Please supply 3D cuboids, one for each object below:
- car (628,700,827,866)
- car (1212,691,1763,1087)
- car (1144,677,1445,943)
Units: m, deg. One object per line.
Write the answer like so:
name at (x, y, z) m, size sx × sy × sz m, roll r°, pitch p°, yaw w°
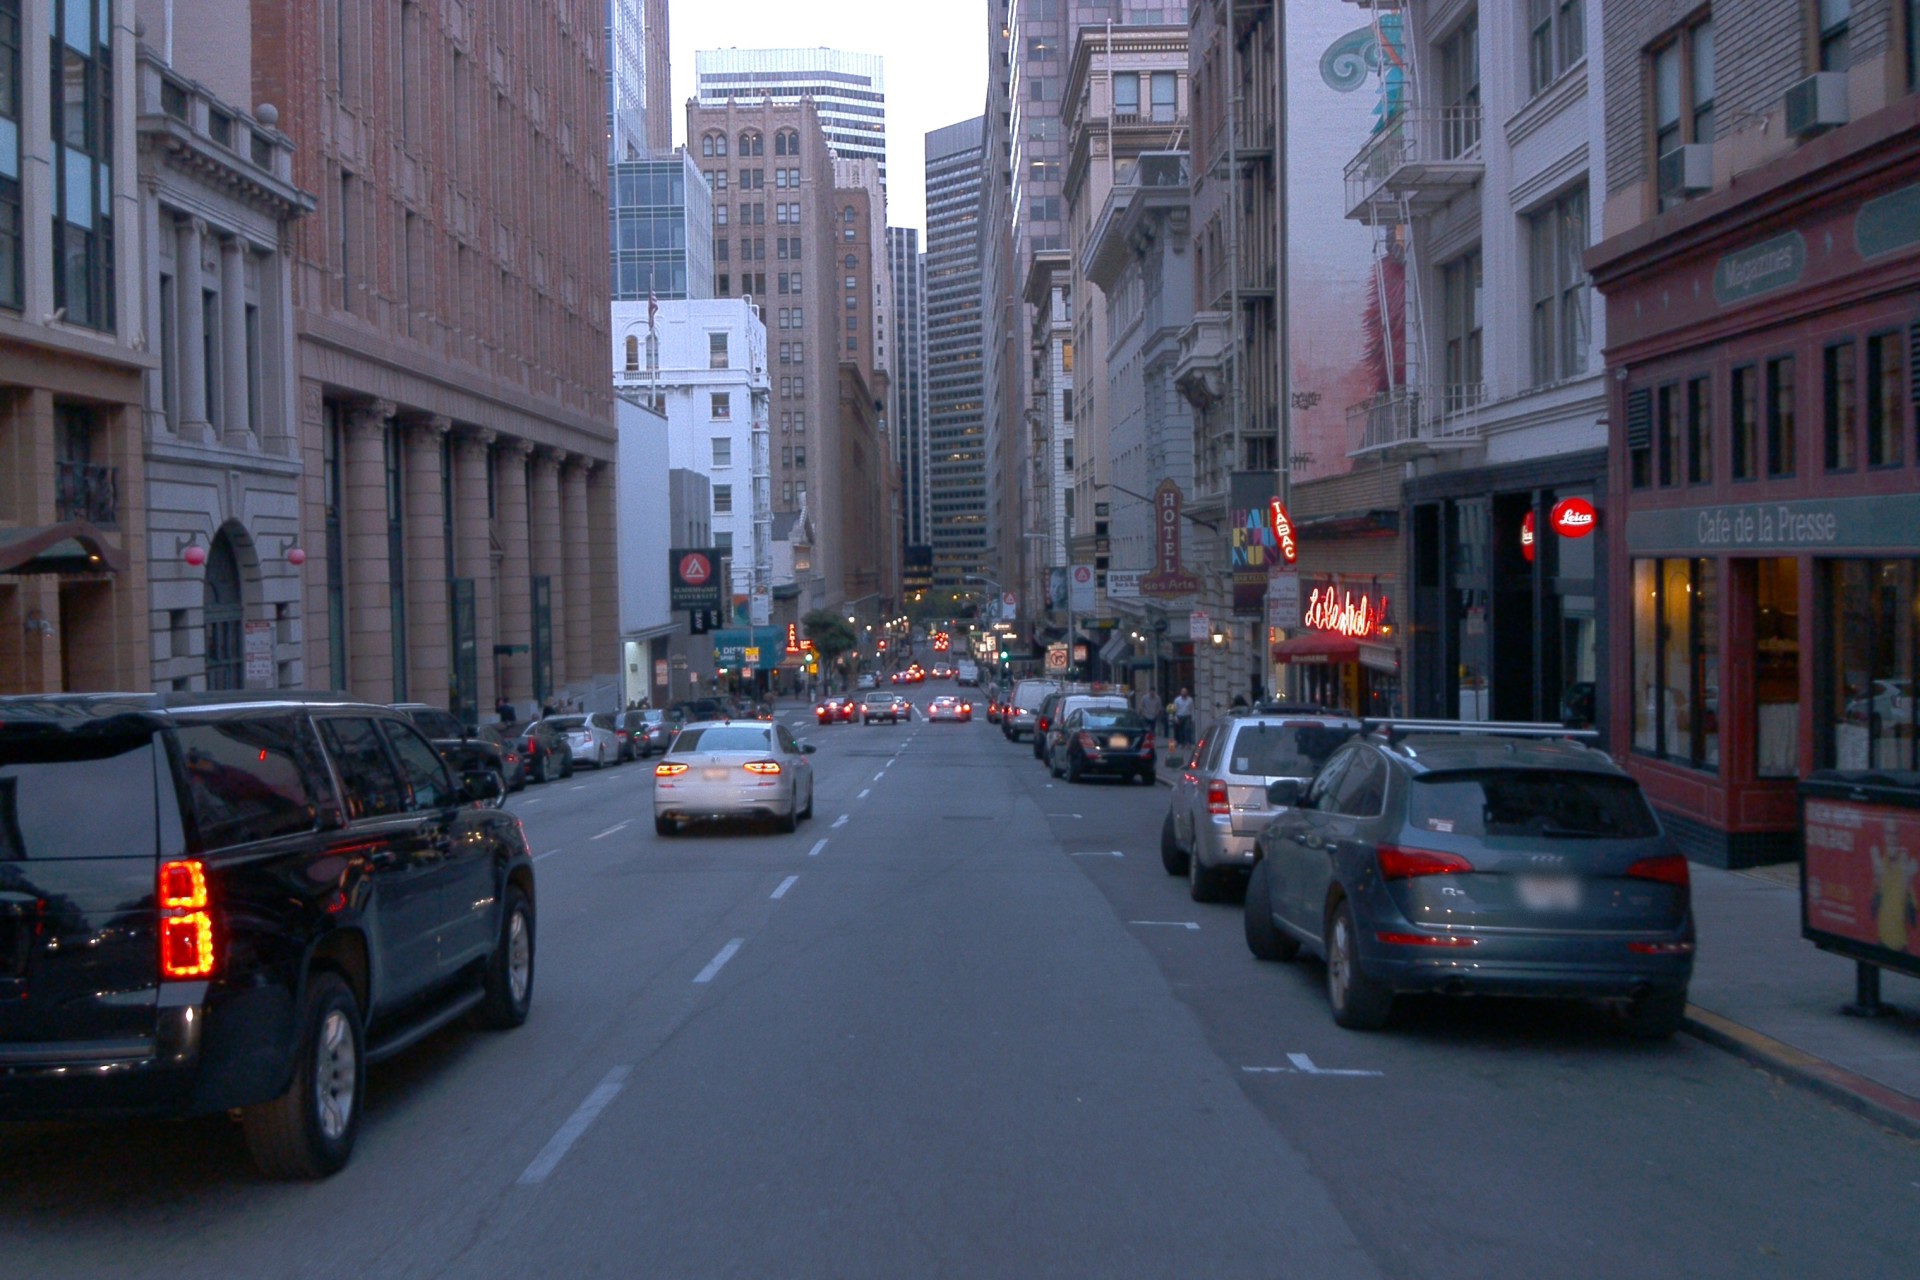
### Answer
car at (-3.020, 1.831, 27.686) m, size 2.119 × 1.850 × 4.733 m, roll 0°, pitch 1°, yaw 0°
car at (3.010, 1.343, 12.991) m, size 2.215 × 1.850 × 4.835 m, roll 0°, pitch 1°, yaw 0°
car at (3.012, 1.468, 19.495) m, size 2.112 × 2.100 × 4.445 m, roll 0°, pitch 1°, yaw 0°
